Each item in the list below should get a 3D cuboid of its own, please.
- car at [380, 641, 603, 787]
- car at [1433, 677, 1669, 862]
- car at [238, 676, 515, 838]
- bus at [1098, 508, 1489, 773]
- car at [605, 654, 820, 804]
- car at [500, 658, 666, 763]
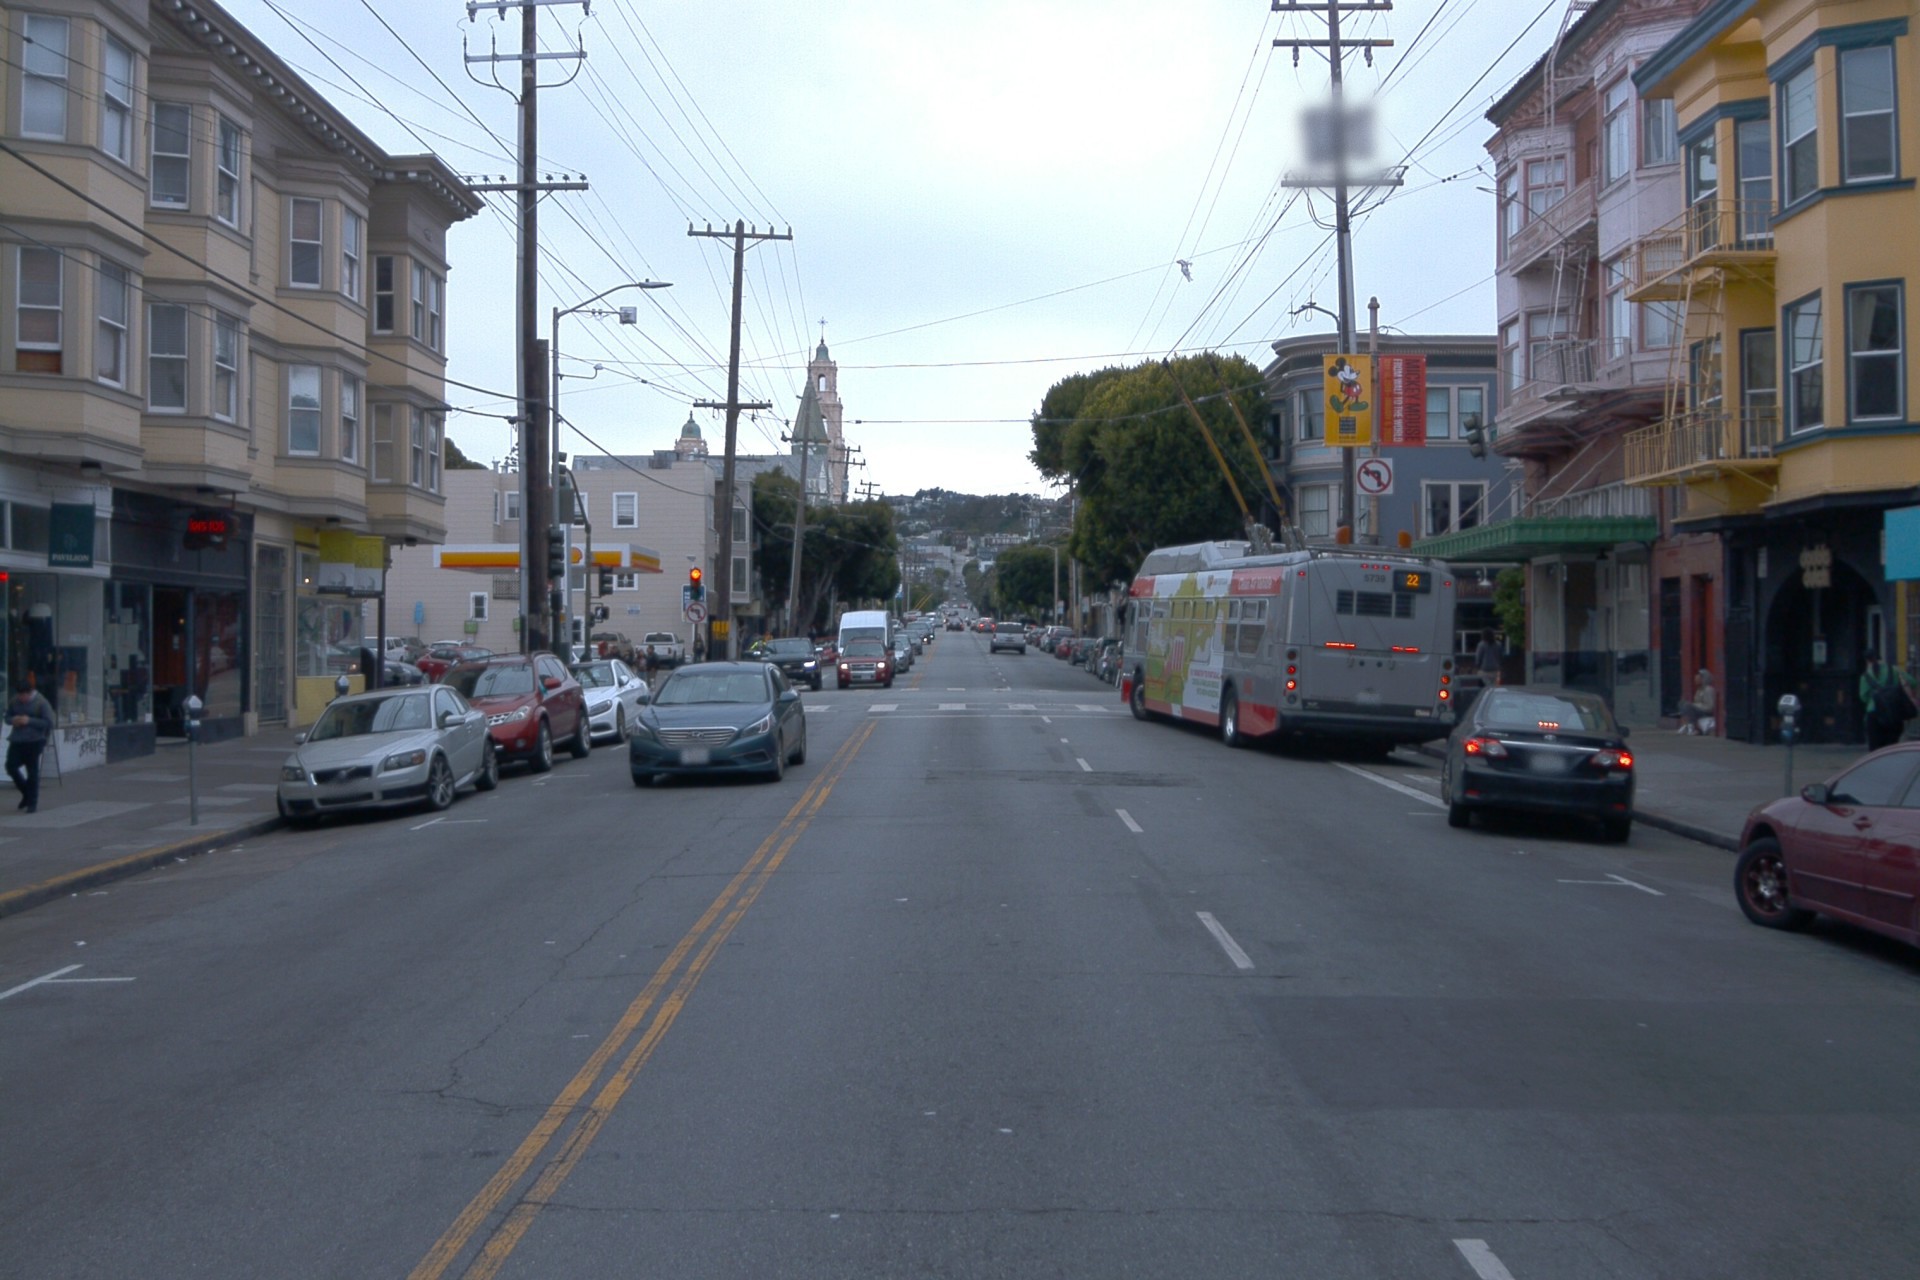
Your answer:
[{"bbox_3d":[-6.694,0.999,29.950,2.135,1.870,4.721,0,1,1],"label":"car"},{"bbox_3d":[6.083,1.250,21.651,2.040,1.565,4.560,0,1,12],"label":"car"},{"bbox_3d":[-6.742,1.296,24.283,2.070,1.590,4.254,0,1,0],"label":"car"},{"bbox_3d":[5.222,-0.111,36.018,3.154,3.751,13.518,0,1,-7],"label":"bus"},{"bbox_3d":[-3.087,1.067,26.648,2.080,1.661,4.782,0,1,2],"label":"car"},{"bbox_3d":[-6.496,1.170,35.923,1.985,1.590,4.675,0,1,1],"label":"car"}]
